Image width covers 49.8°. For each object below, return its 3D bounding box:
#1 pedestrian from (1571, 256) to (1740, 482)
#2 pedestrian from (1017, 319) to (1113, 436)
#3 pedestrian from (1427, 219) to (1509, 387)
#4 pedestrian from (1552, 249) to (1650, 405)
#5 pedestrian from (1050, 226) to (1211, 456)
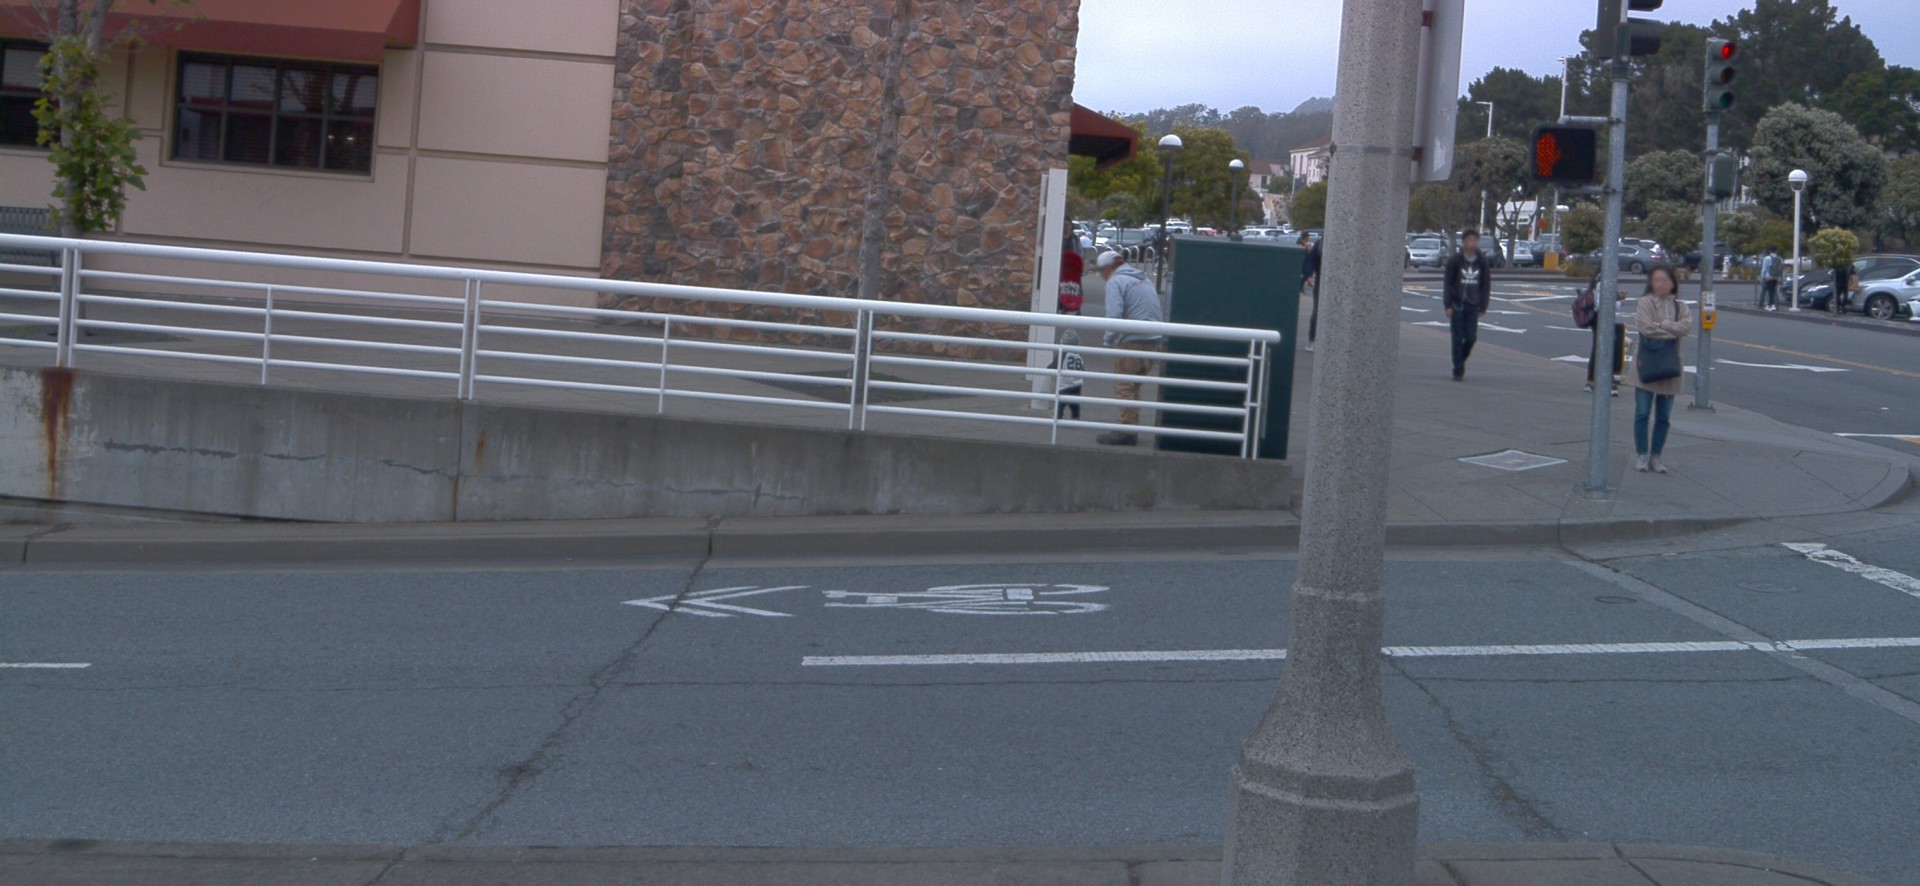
[{"bbox_3d":[5.481,-0.608,16.331,1.041,1.706,0.821,-1,2,-2],"label":"pedestrian"},{"bbox_3d":[0.845,-0.538,16.685,0.542,0.878,0.546,-3,3,-38],"label":"pedestrian"},{"bbox_3d":[5.742,-1.600,23.399,0.689,1.846,0.922,-1,2,-1],"label":"pedestrian"},{"bbox_3d":[7.172,-1.315,23.136,0.787,1.677,0.691,-1,2,-19],"label":"pedestrian"},{"bbox_3d":[1.318,-0.823,16.017,0.869,1.696,0.885,-2,3,-37],"label":"pedestrian"}]
